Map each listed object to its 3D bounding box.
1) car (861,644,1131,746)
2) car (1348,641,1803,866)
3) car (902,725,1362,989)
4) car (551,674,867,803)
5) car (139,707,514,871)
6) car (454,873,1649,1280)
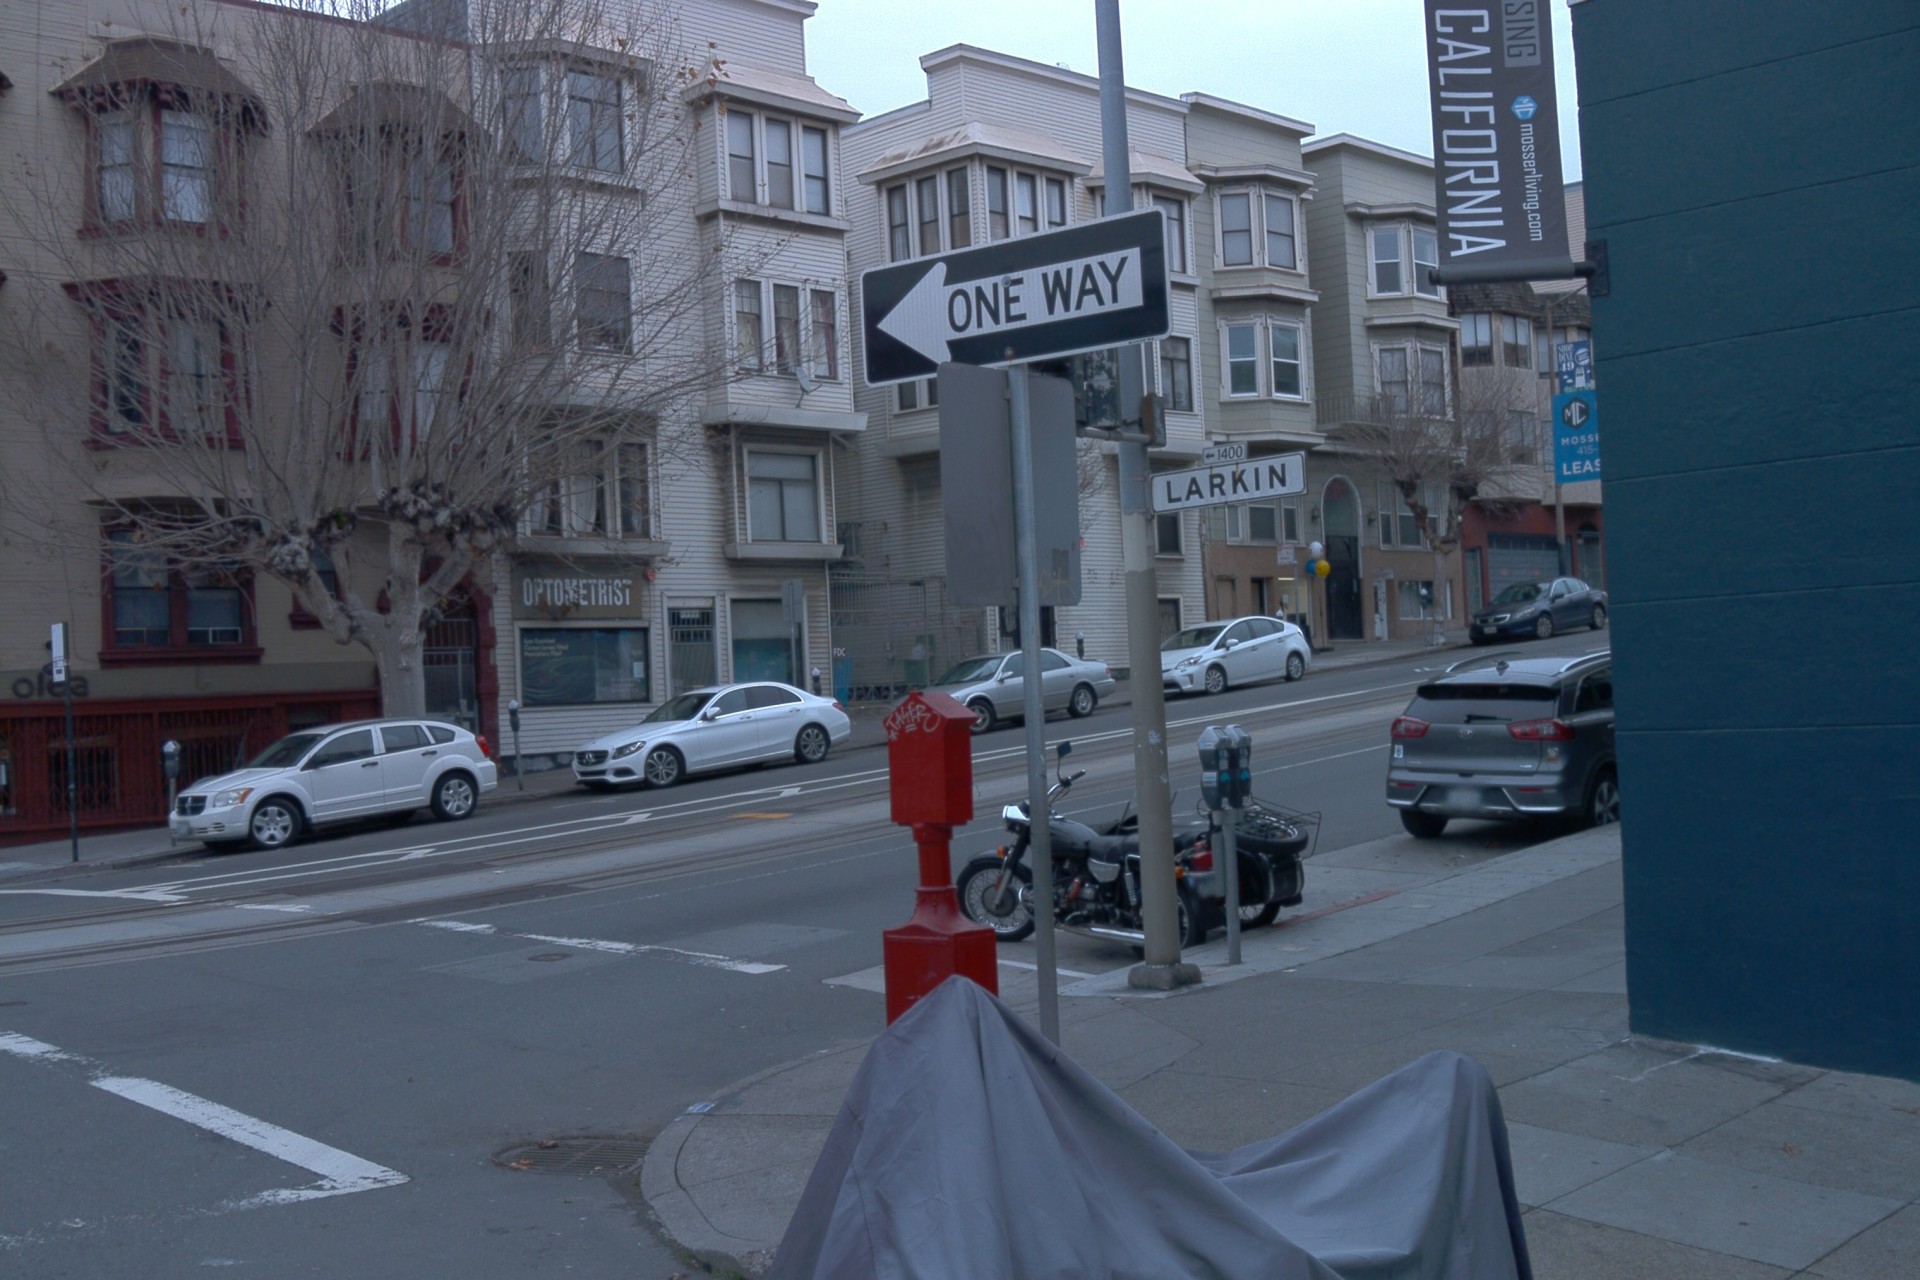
[{"bbox_3d":[0.712,0.929,37.120,4.801,1.657,2.084,-1,1,-45],"label":"car"},{"bbox_3d":[5.645,0.889,18.583,2.132,1.717,4.606,0,1,42],"label":"car"},{"bbox_3d":[1.133,1.382,14.055,2.745,1.460,1.540,0,1,42],"label":"car"},{"bbox_3d":[-3.872,1.473,32.361,4.589,1.757,2.074,-1,1,-44],"label":"car"},{"bbox_3d":[-8.482,1.924,27.919,2.053,1.847,4.407,1,1,44],"label":"car"},{"bbox_3d":[0.332,1.394,4.286,2.490,1.520,1.048,-1,1,-44],"label":"car"}]
